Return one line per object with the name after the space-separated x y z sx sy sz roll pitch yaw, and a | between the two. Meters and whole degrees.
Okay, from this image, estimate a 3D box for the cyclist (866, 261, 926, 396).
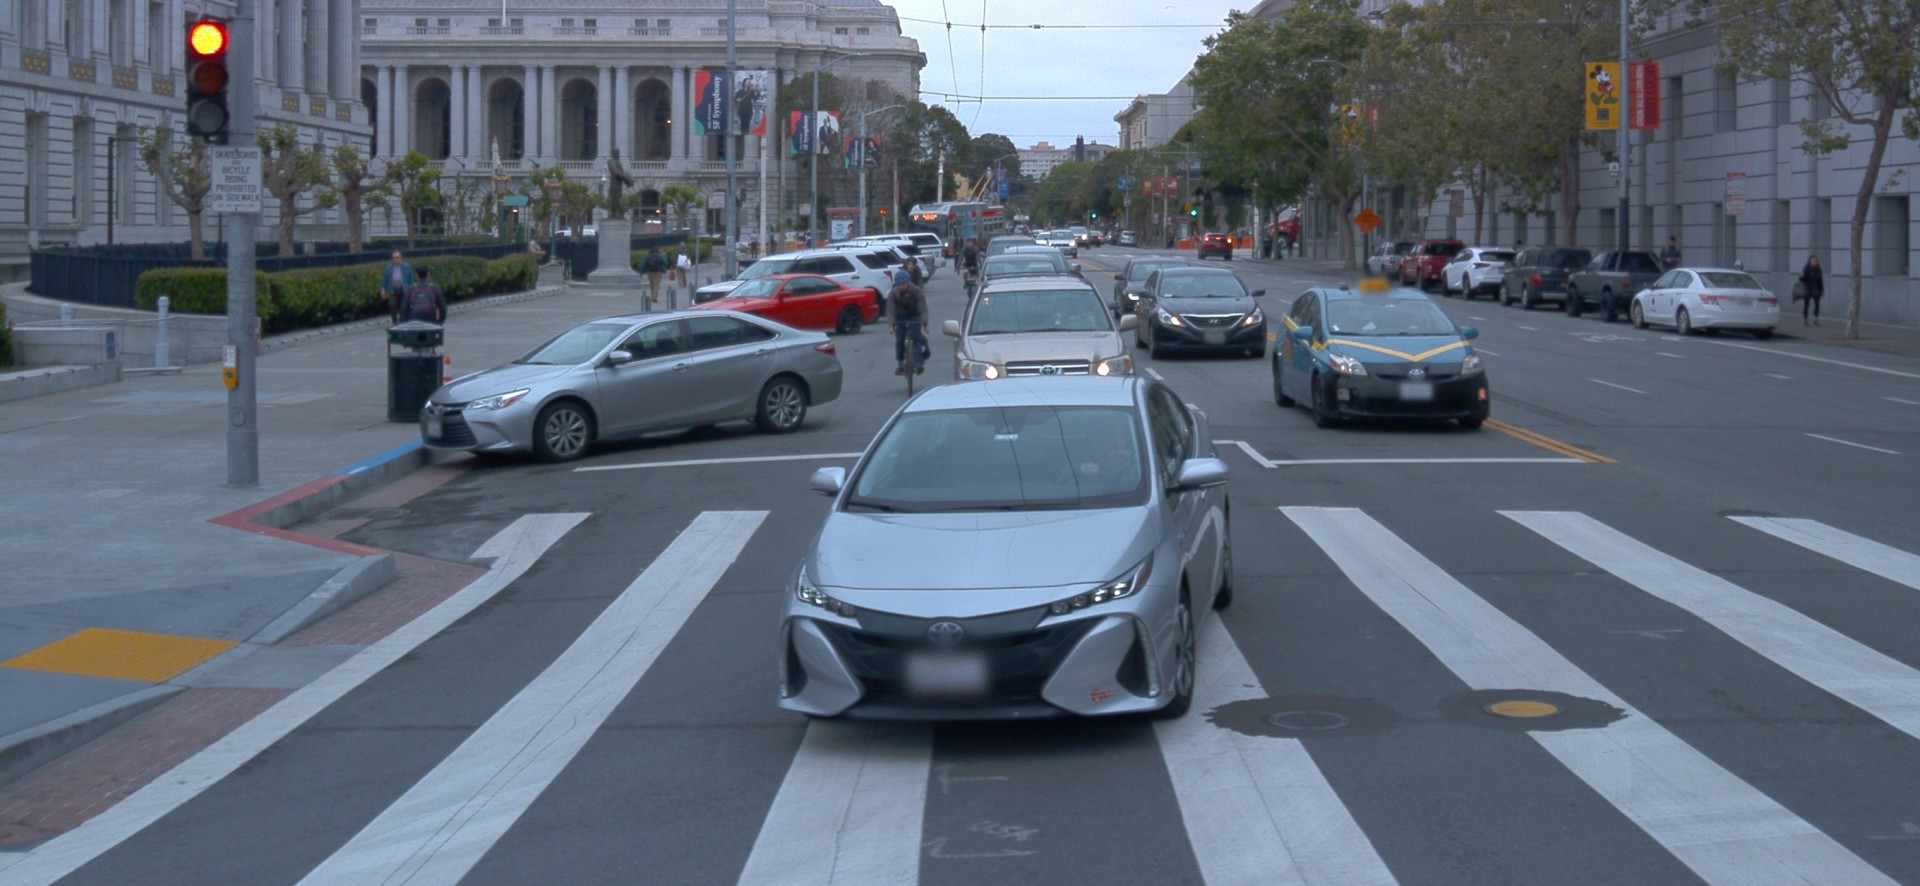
-0.856 -1.578 27.892 0.744 1.730 1.894 0 4 0 | cyclist

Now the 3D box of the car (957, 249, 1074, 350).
1.038 -2.789 39.084 2.094 1.746 4.686 0 5 1 | car

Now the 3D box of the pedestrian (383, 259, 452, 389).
-7.924 -1.753 30.098 0.801 1.847 0.879 0 2 -3 | pedestrian

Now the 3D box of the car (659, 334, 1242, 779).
0.243 0.328 10.860 2.129 1.533 4.721 1 6 12 | car

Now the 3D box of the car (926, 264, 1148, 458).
0.749 -1.006 22.448 2.165 1.792 4.824 0 5 0 | car

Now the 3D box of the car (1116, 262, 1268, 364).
3.801 -2.226 34.458 2.049 1.505 4.592 0 6 0 | car

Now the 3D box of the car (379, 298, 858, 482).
-3.717 -0.701 22.973 4.910 1.660 2.115 -5 6 -41 | car

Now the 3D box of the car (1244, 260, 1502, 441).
4.546 -1.145 23.335 2.026 1.779 4.380 0 5 0 | car
